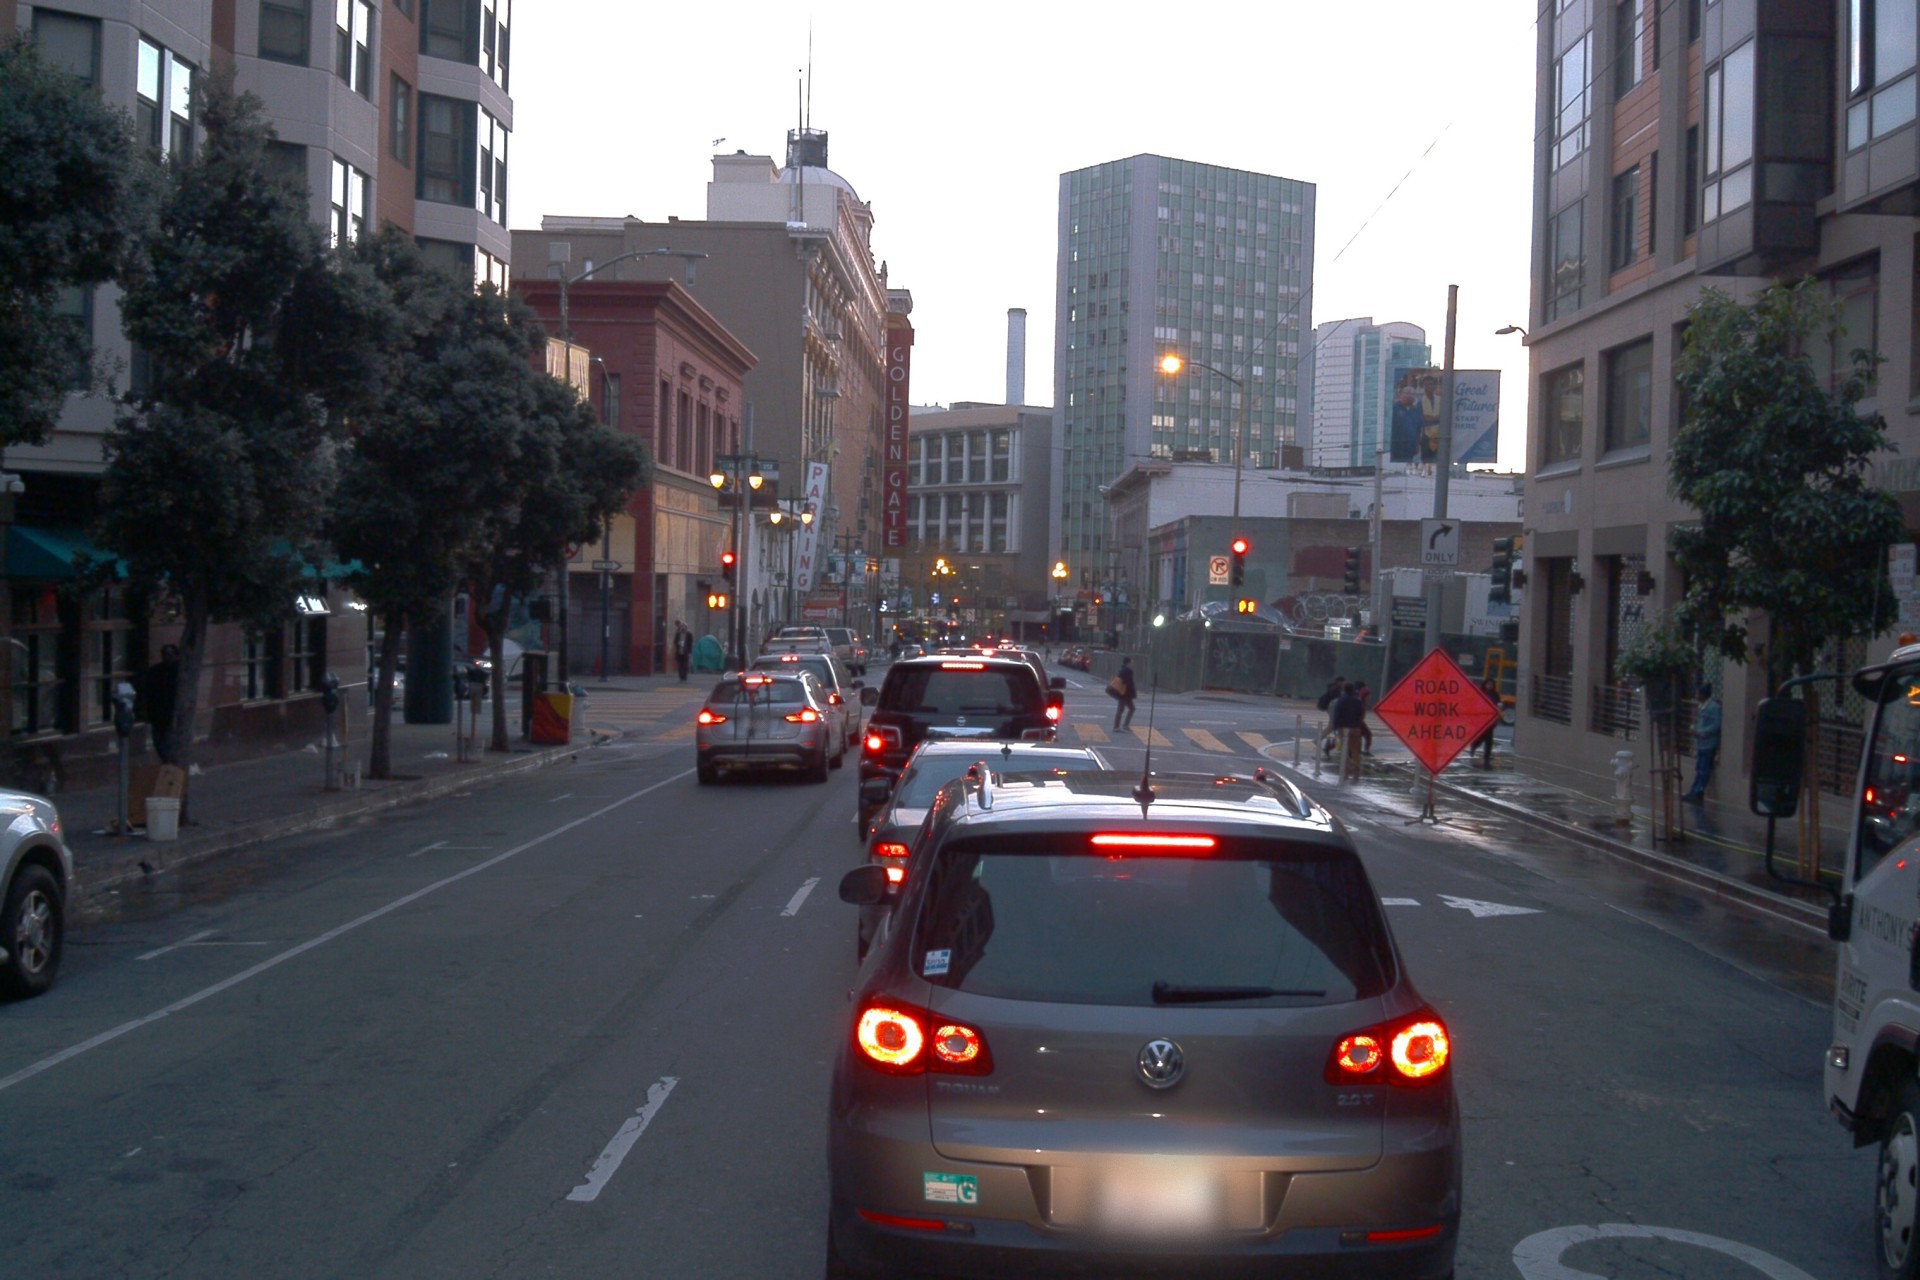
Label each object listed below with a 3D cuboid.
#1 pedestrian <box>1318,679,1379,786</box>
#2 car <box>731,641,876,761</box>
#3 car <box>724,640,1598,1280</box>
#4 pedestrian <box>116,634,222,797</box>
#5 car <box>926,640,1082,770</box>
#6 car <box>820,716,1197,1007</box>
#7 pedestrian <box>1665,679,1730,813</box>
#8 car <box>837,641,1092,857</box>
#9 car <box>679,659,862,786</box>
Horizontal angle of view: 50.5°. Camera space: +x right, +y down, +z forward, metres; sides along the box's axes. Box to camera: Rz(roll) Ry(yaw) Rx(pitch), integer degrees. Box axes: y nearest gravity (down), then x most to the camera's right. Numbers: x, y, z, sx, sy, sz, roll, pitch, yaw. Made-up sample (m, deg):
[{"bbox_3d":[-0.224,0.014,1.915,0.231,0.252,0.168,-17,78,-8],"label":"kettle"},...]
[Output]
[{"bbox_3d":[6.687,1.579,35.068,0.777,1.790,0.924,1,1,-4],"label":"pedestrian"},{"bbox_3d":[-2.657,1.000,35.547,1.896,1.880,4.462,1,1,4],"label":"car"},{"bbox_3d":[0.546,1.065,7.023,2.109,2.050,3.981,1,1,2],"label":"car"},{"bbox_3d":[-9.332,0.872,24.061,0.828,1.860,1.059,1,1,-1],"label":"pedestrian"},{"bbox_3d":[0.622,0.858,29.391,2.036,1.650,4.678,1,1,1],"label":"car"},{"bbox_3d":[0.292,1.325,13.592,2.089,1.400,4.279,1,1,1],"label":"car"},{"bbox_3d":[10.762,1.536,29.715,0.659,1.890,0.755,1,1,4],"label":"pedestrian"},{"bbox_3d":[0.036,1.031,21.904,2.368,1.940,5.339,1,1,0],"label":"car"},{"bbox_3d":[-2.614,1.113,29.085,2.110,1.572,4.118,1,1,1],"label":"car"}]
